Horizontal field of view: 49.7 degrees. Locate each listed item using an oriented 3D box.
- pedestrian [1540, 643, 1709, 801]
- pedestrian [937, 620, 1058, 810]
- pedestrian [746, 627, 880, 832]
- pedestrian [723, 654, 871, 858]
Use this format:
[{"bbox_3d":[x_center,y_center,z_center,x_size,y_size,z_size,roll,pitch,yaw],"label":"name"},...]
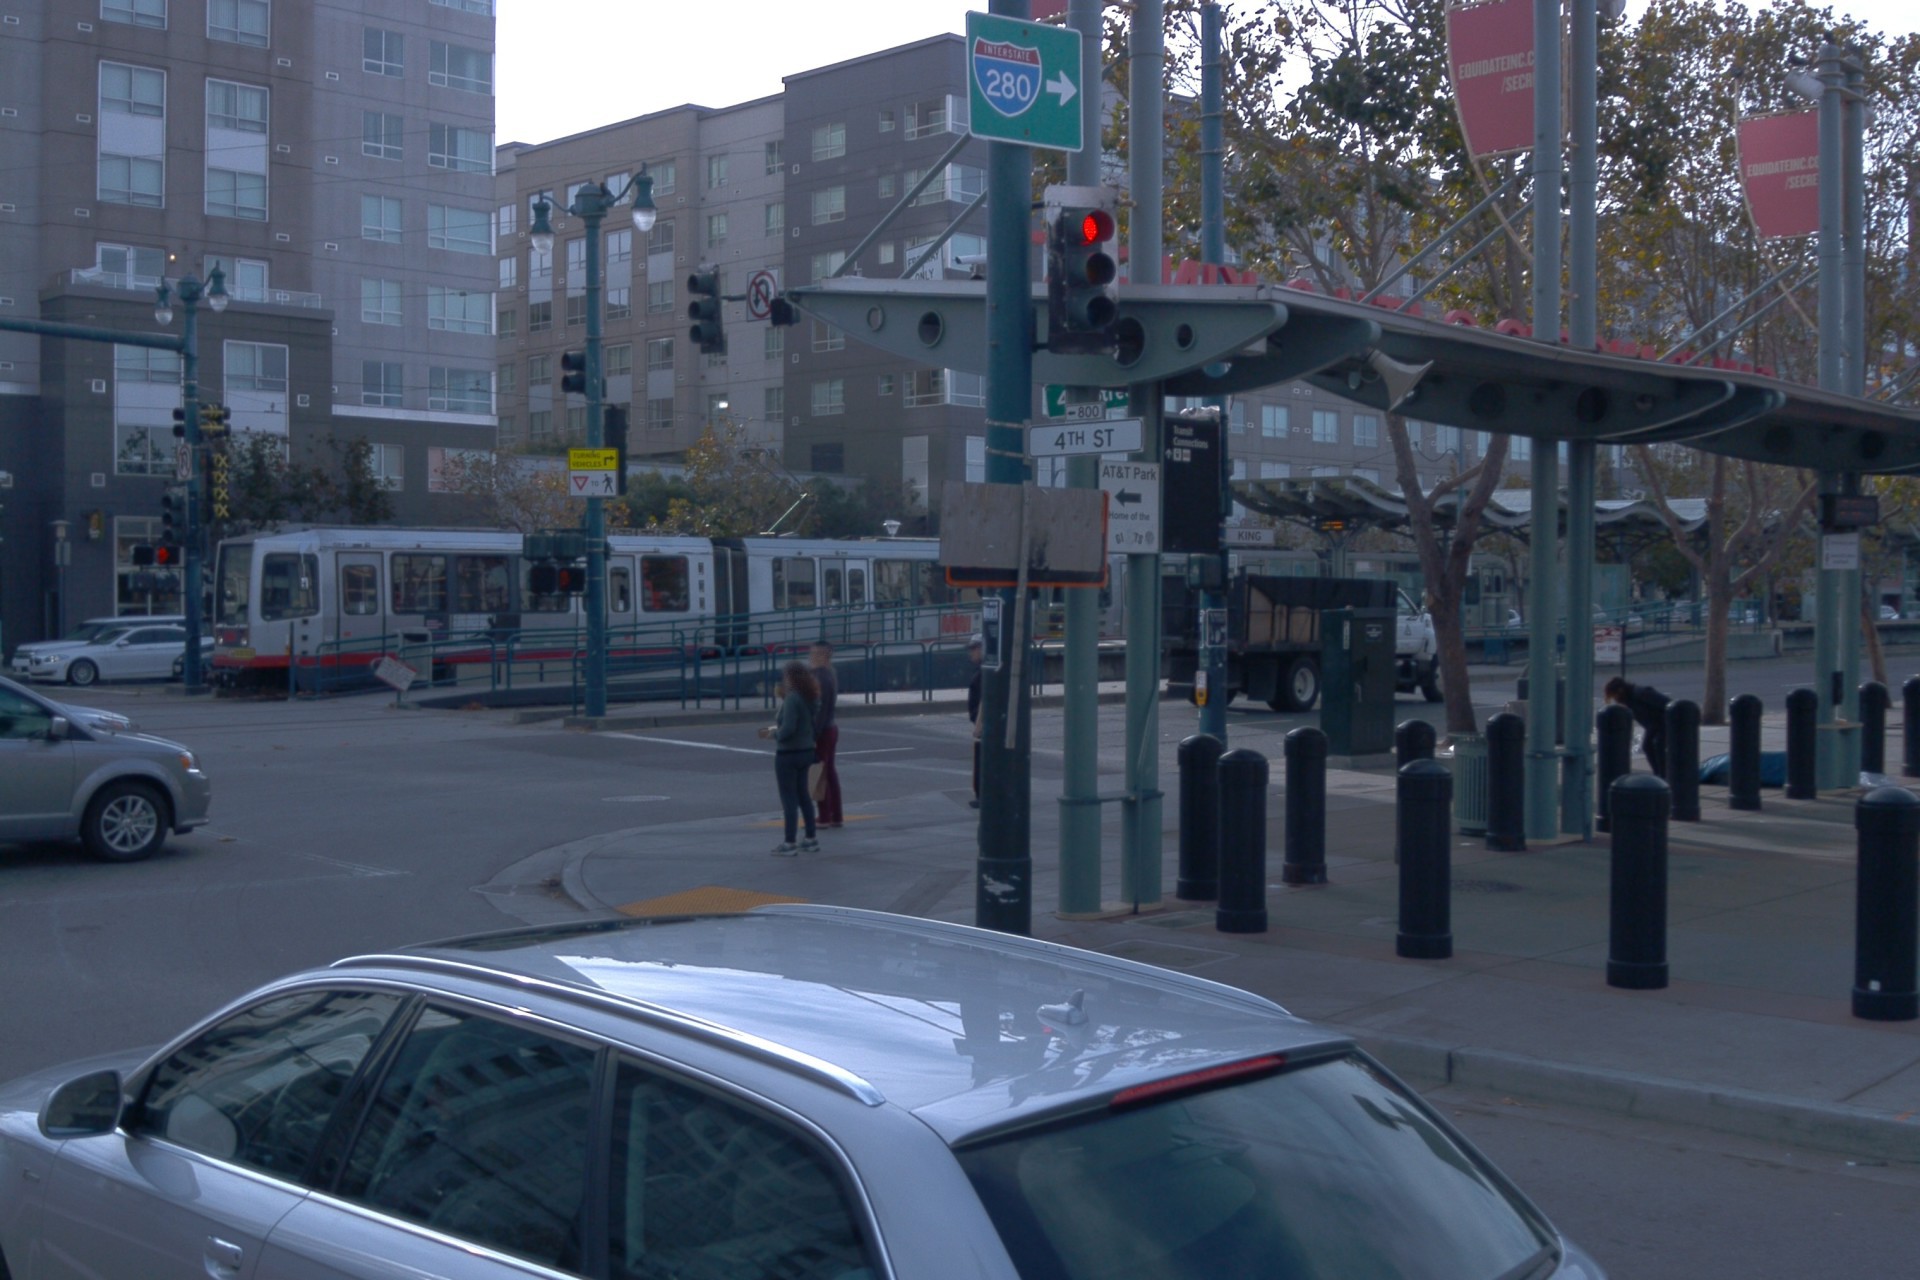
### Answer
[{"bbox_3d":[7.058,0.851,22.019,1.218,1.605,1.169,1,0,-25],"label":"pedestrian"},{"bbox_3d":[0.383,0.734,20.824,0.867,1.858,0.865,1,0,31],"label":"pedestrian"},{"bbox_3d":[-1.341,0.801,19.040,0.980,1.819,0.928,1,0,12],"label":"pedestrian"},{"bbox_3d":[-1.364,0.945,17.334,1.016,1.642,0.678,1,0,38],"label":"pedestrian"}]
